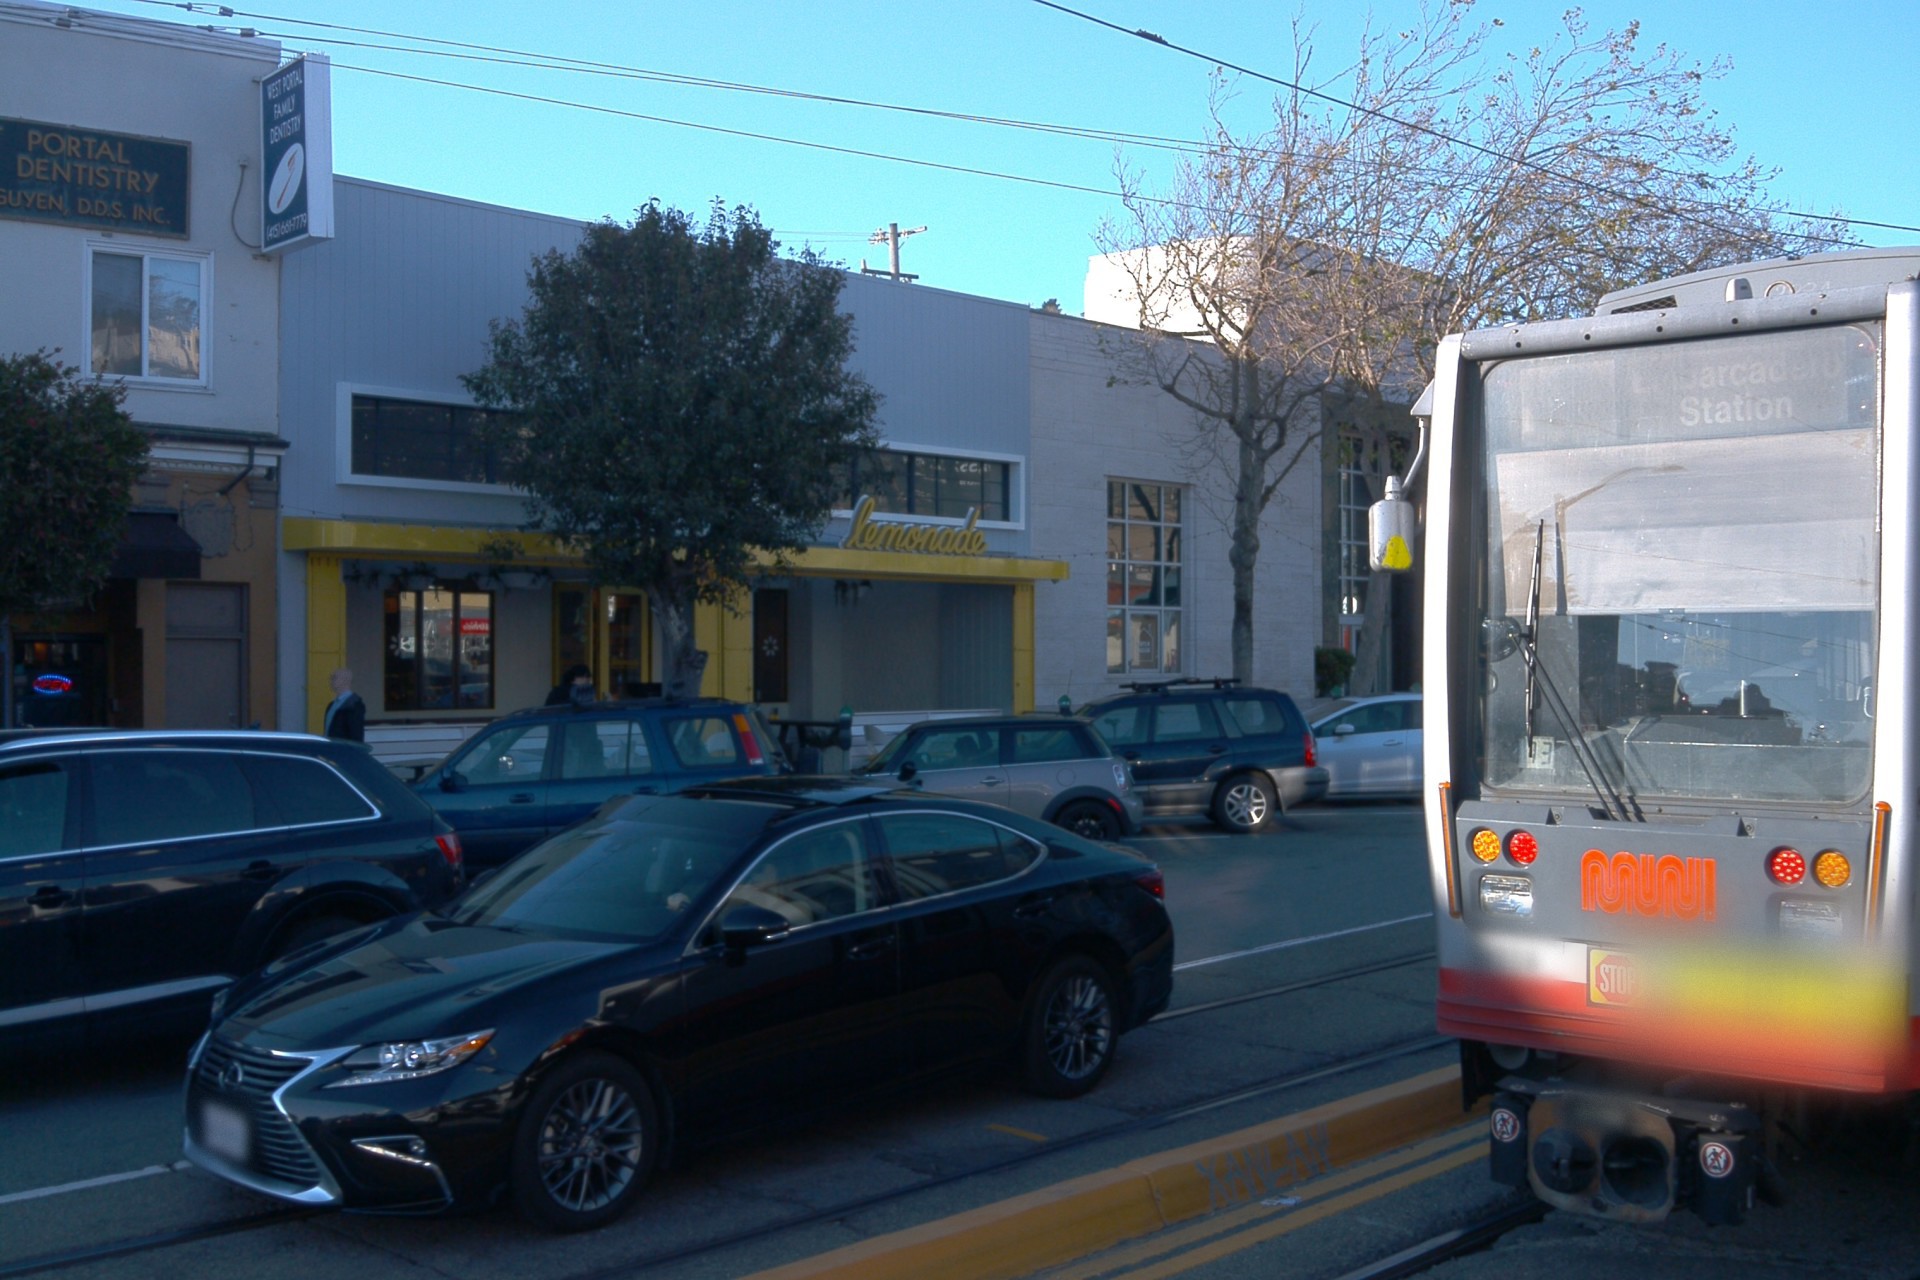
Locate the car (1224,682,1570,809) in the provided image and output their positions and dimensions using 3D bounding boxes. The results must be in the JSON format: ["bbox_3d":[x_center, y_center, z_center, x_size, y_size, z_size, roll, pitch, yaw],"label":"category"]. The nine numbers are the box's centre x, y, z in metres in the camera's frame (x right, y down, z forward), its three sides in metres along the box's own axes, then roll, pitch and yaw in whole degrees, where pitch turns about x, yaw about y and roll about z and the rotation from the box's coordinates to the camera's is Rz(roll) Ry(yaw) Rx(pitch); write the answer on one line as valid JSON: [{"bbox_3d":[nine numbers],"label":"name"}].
[{"bbox_3d":[5.556,1.326,26.678,4.042,1.500,1.814,0,0,-3],"label":"car"}]

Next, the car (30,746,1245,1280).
[{"bbox_3d":[-1.103,1.385,8.968,2.252,1.570,4.825,0,0,43],"label":"car"}]

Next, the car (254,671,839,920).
[{"bbox_3d":[-3.319,1.239,17.335,4.415,1.900,2.081,0,0,1],"label":"car"}]

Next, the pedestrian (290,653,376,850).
[{"bbox_3d":[-6.292,1.098,20.795,0.568,1.920,0.732,0,0,-41],"label":"pedestrian"}]

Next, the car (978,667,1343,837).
[{"bbox_3d":[2.155,1.200,23.059,3.806,1.750,1.936,0,0,-3],"label":"car"}]

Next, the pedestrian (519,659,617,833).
[{"bbox_3d":[-4.143,1.105,21.919,0.867,1.790,0.565,0,0,36],"label":"pedestrian"}]

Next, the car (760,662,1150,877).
[{"bbox_3d":[0.020,1.211,20.158,3.614,1.950,1.902,0,0,4],"label":"car"}]
